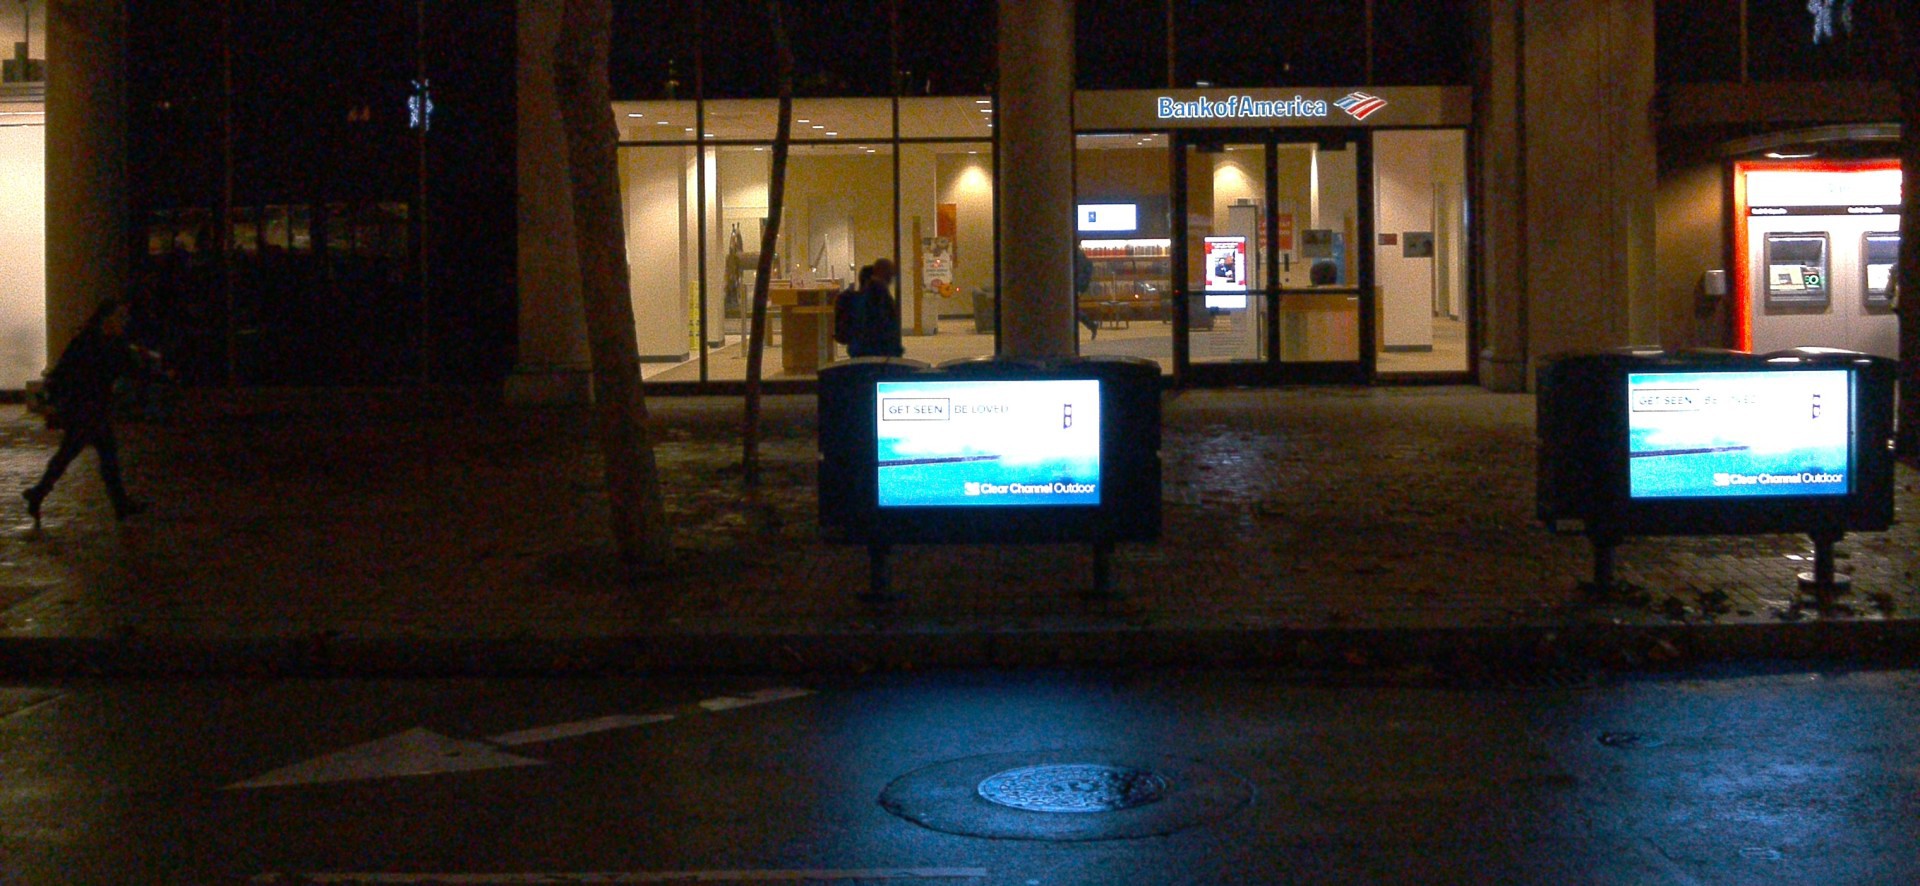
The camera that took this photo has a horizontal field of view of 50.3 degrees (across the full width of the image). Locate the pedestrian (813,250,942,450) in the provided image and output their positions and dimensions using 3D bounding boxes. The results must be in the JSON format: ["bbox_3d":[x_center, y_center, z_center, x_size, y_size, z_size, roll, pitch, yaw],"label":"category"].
[{"bbox_3d":[-0.711,-0.845,18.099,1.061,1.685,0.936,-1,3,0],"label":"pedestrian"}]

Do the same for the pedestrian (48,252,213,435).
[{"bbox_3d":[-8.123,-0.997,20.070,1.125,1.715,0.916,0,3,13],"label":"pedestrian"}]

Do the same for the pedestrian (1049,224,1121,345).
[{"bbox_3d":[1.915,-2.442,31.270,0.839,1.795,0.691,-3,3,-41],"label":"pedestrian"}]

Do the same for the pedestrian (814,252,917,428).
[{"bbox_3d":[-0.886,-0.986,19.346,0.889,1.596,0.771,-1,3,1],"label":"pedestrian"}]
